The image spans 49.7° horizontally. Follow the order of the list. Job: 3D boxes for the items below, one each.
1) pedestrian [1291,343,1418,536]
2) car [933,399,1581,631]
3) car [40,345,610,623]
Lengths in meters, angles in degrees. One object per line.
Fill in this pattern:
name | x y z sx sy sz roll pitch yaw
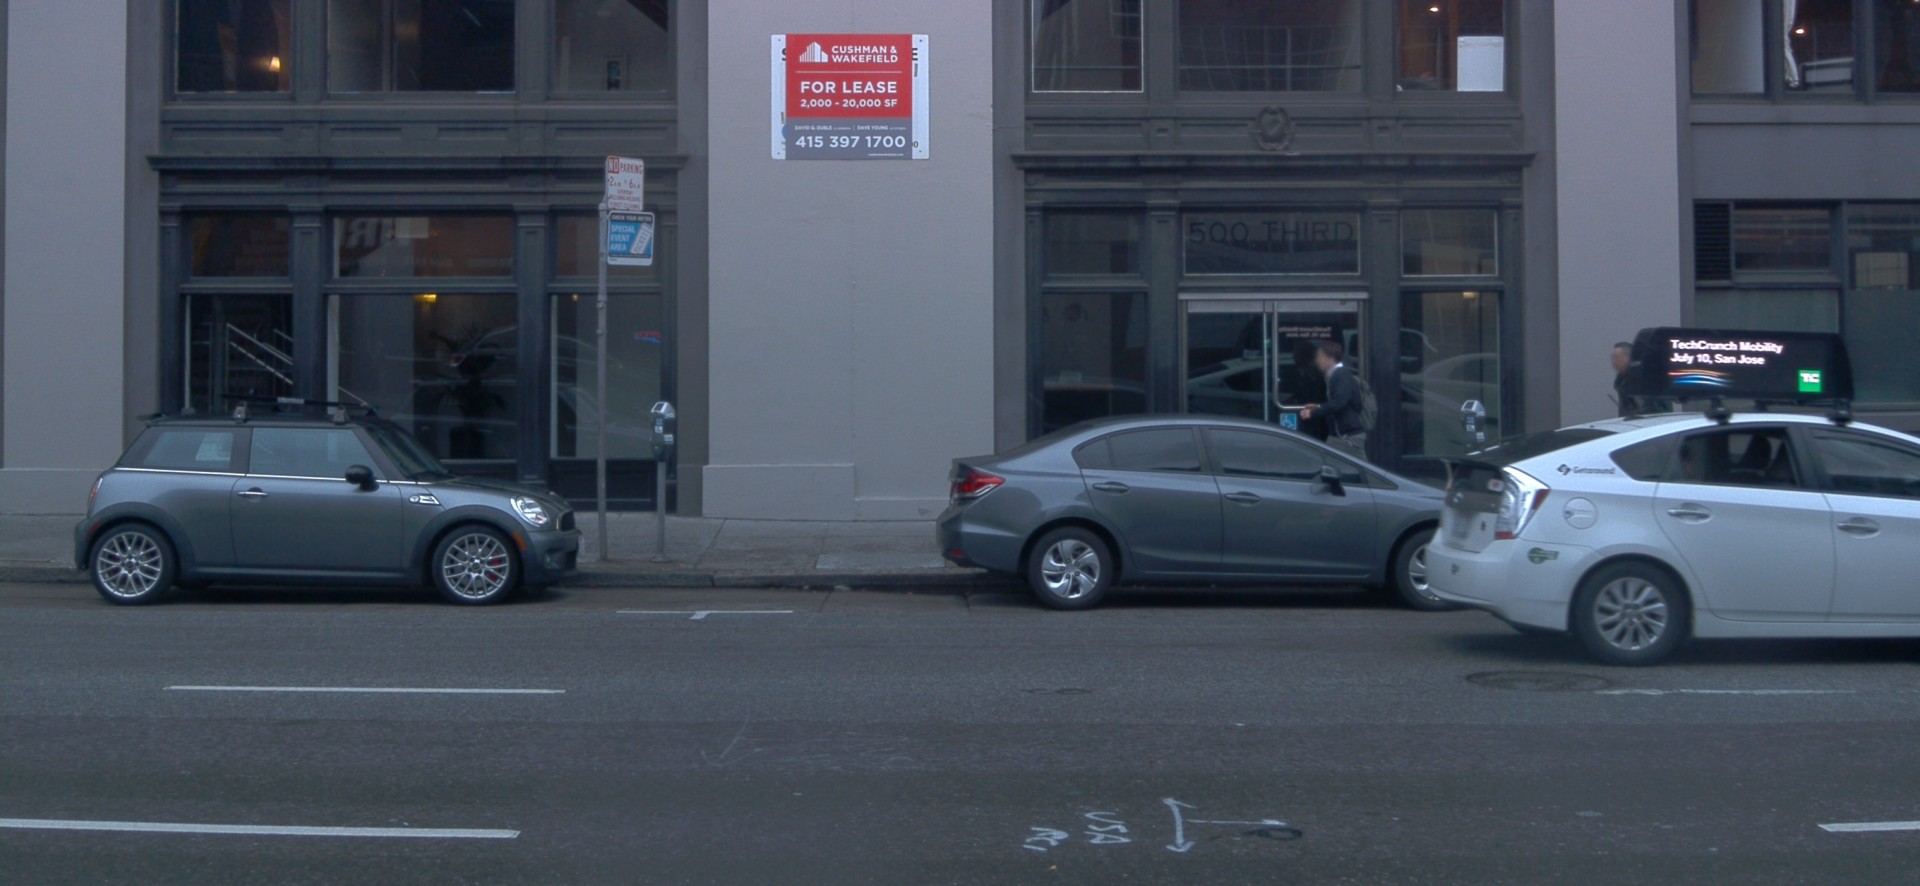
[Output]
pedestrian | 3.722 -0.053 19.634 1.027 1.740 0.850 0 1 -1
car | 2.126 0.490 15.852 4.616 1.477 2.025 0 4 -2
car | -4.709 0.243 15.836 3.807 1.877 1.865 0 3 -3
